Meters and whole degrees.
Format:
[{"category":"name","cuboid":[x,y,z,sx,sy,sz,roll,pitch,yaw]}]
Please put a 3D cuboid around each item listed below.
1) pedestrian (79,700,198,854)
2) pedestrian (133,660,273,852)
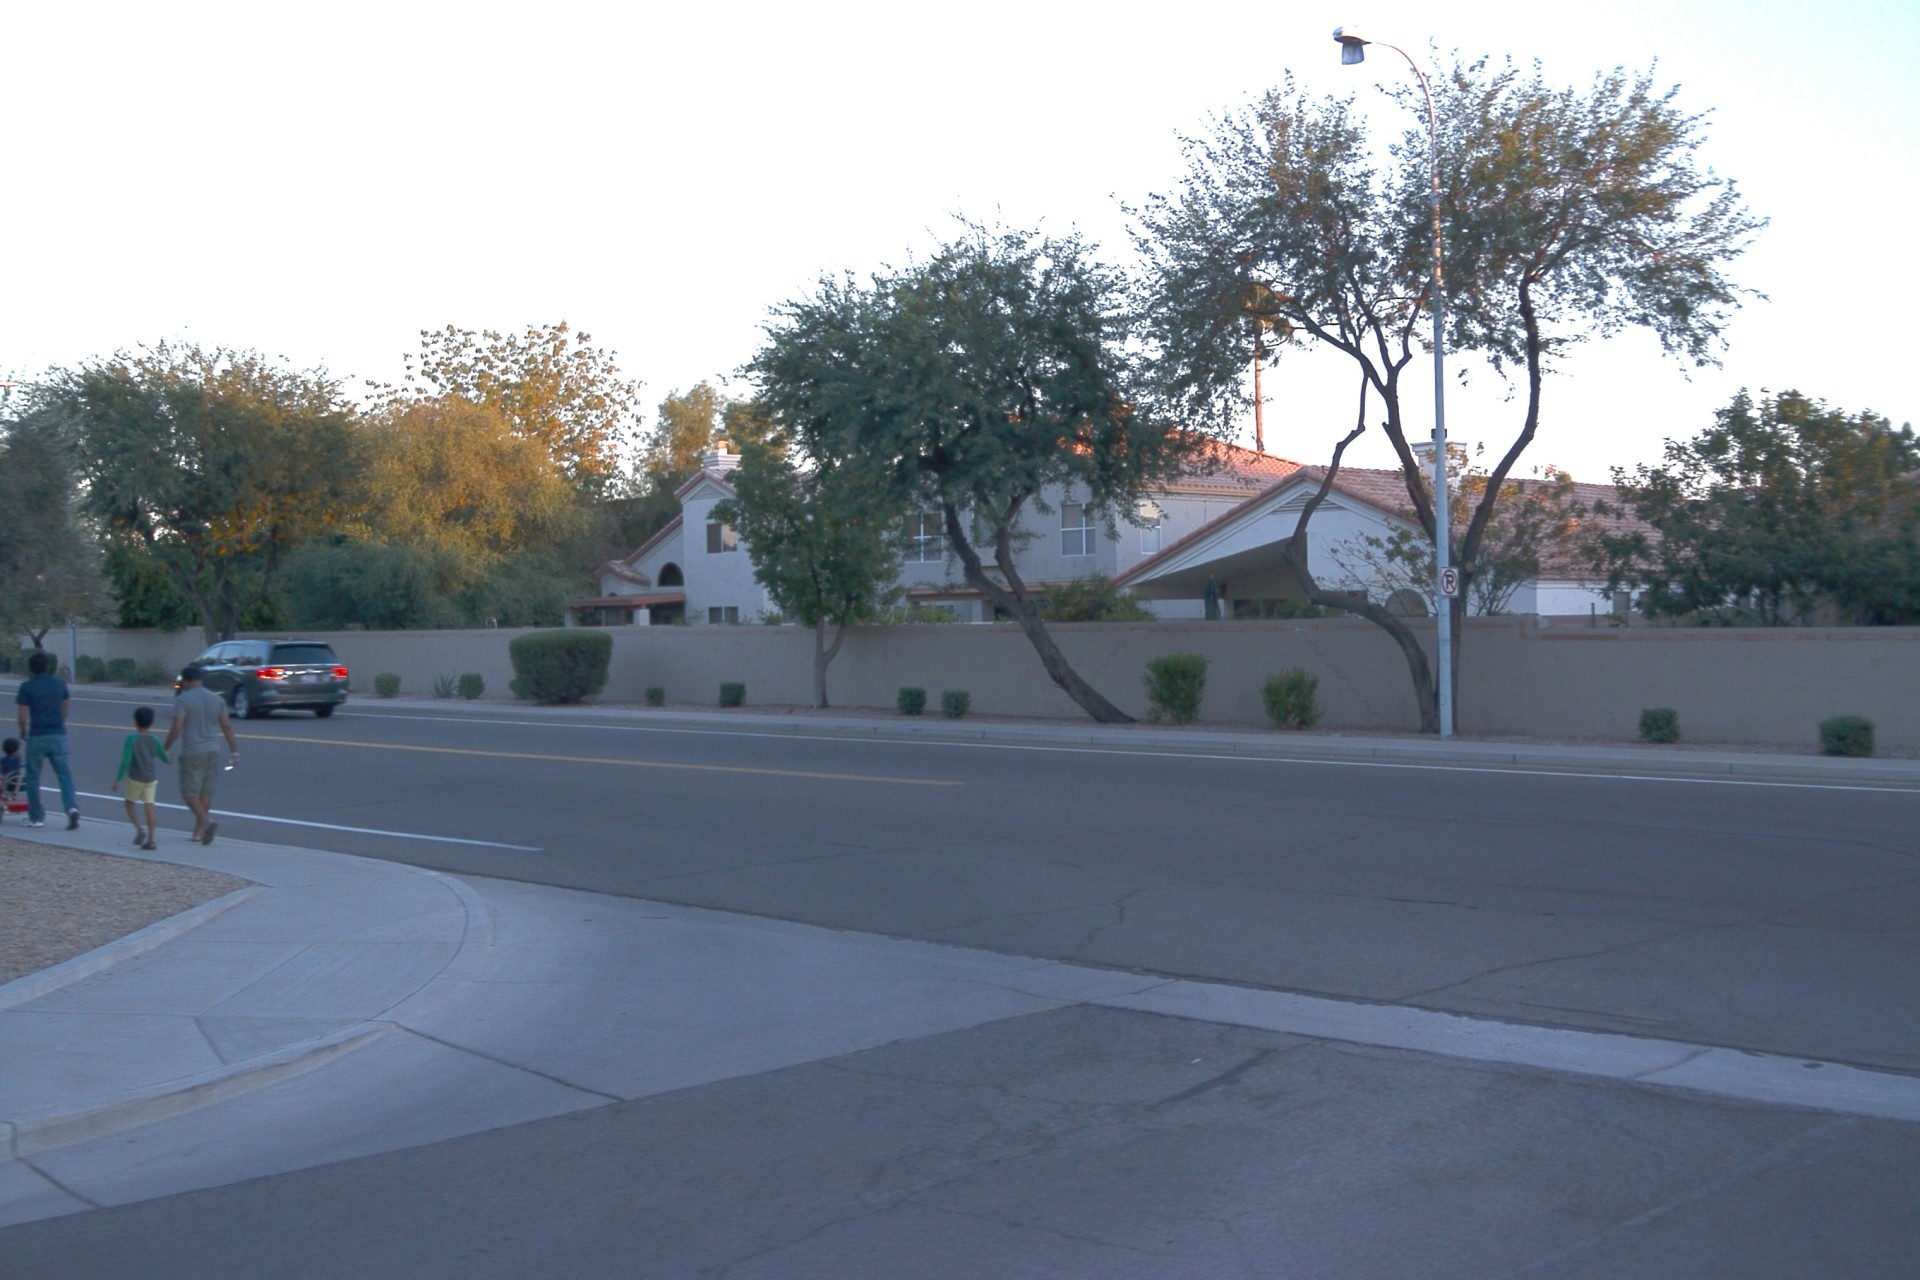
[{"category":"pedestrian","cuboid":[-7.365,1.207,18.566,0.742,1.300,0.748,1,1,44]},{"category":"pedestrian","cuboid":[-7.002,1.044,19.163,0.910,1.690,0.944,0,1,-44]}]
